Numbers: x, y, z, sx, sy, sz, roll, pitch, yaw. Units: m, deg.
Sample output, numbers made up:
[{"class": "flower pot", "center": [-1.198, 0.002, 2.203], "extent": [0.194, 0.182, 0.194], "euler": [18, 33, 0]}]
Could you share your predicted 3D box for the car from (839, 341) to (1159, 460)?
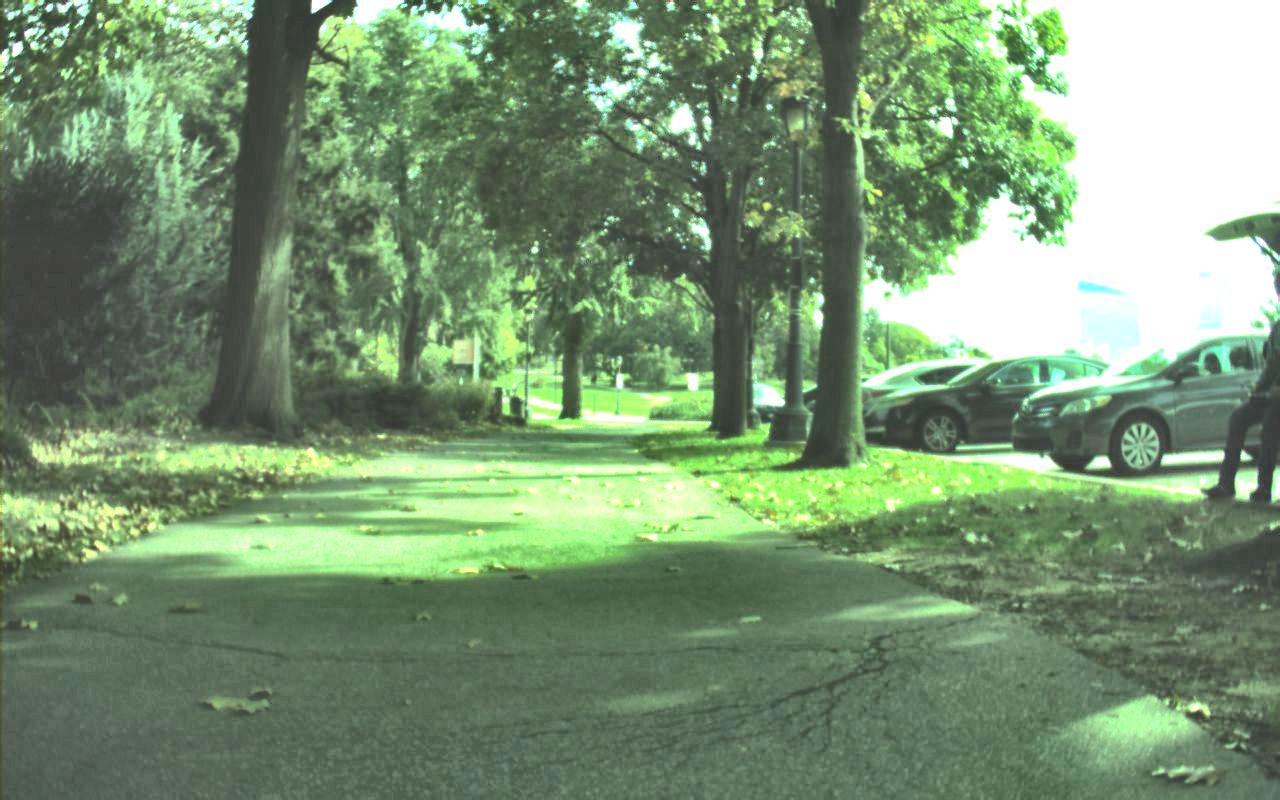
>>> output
[{"class": "car", "center": [5.274, 0.001, 18.065], "extent": [4.456, 1.616, 1.977], "euler": [0, 1, -4]}]

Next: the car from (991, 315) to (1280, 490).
[{"class": "car", "center": [6.006, 0.024, 12.272], "extent": [4.400, 1.605, 1.955], "euler": [0, 1, -7]}]

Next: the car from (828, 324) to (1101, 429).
[{"class": "car", "center": [5.576, -0.383, 21.263], "extent": [4.411, 1.680, 1.961], "euler": [0, 1, -6]}]

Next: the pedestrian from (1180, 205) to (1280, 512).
[{"class": "pedestrian", "center": [4.022, -0.241, 7.334], "extent": [0.919, 1.864, 0.873], "euler": [0, 0, 6]}]
